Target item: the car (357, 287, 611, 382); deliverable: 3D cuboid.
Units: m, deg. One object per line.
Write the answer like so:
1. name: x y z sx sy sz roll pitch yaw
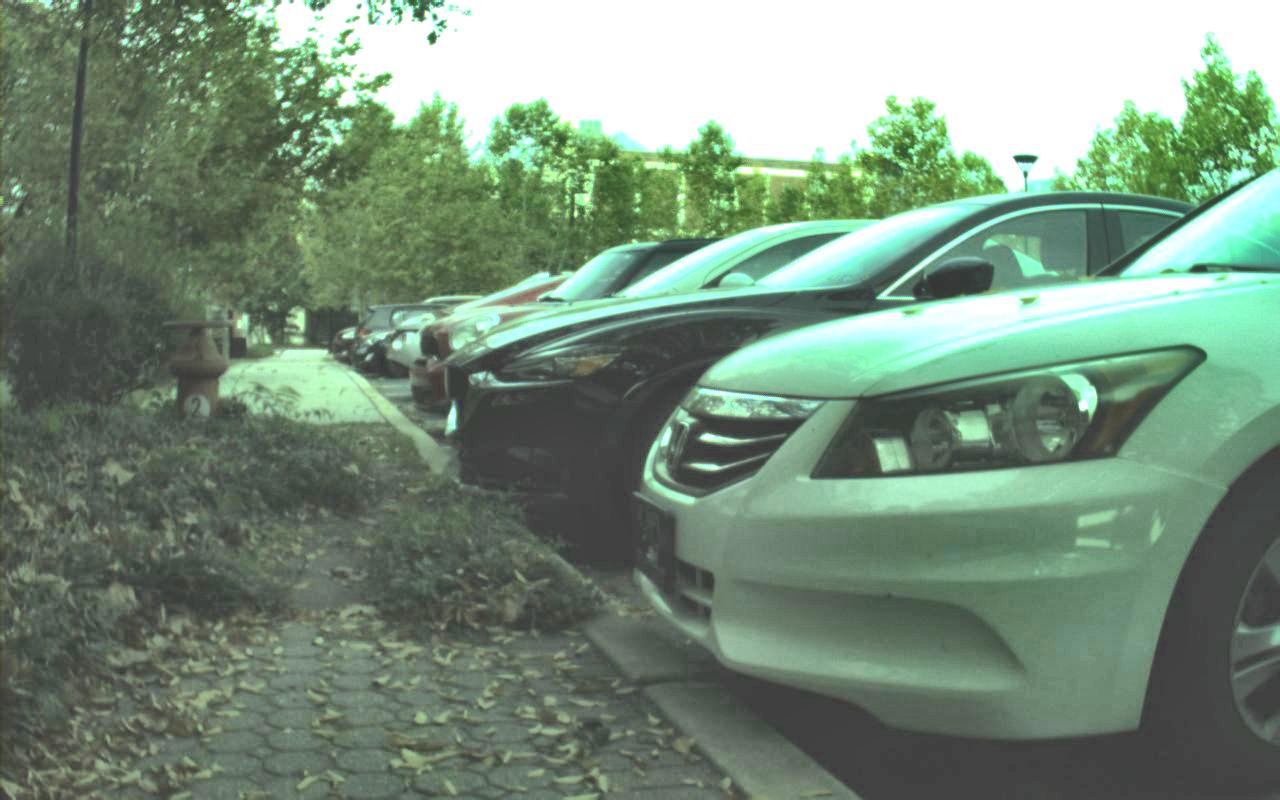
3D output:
1. car: -2.991 -1.185 23.420 4.570 1.655 1.966 0 1 -15

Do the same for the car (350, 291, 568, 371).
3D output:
1. car: -3.791 -1.380 25.691 4.369 1.557 1.898 0 1 -14

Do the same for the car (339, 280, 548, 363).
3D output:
1. car: -4.483 -1.718 28.111 4.478 1.750 1.956 0 1 -19

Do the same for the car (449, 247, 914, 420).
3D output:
1. car: 0.391 -0.652 13.376 4.632 1.637 1.973 0 1 -15

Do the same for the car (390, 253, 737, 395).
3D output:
1. car: -1.049 -0.910 15.846 4.165 1.647 1.870 0 1 -13

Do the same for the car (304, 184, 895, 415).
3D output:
1. car: -0.422 -0.736 10.283 4.562 1.633 2.041 0 1 -18

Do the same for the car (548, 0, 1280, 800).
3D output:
1. car: 2.162 -0.074 3.060 4.407 1.614 1.968 0 1 -20

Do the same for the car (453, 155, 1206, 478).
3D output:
1. car: 1.121 -0.451 7.762 4.501 1.661 2.030 0 1 -9
